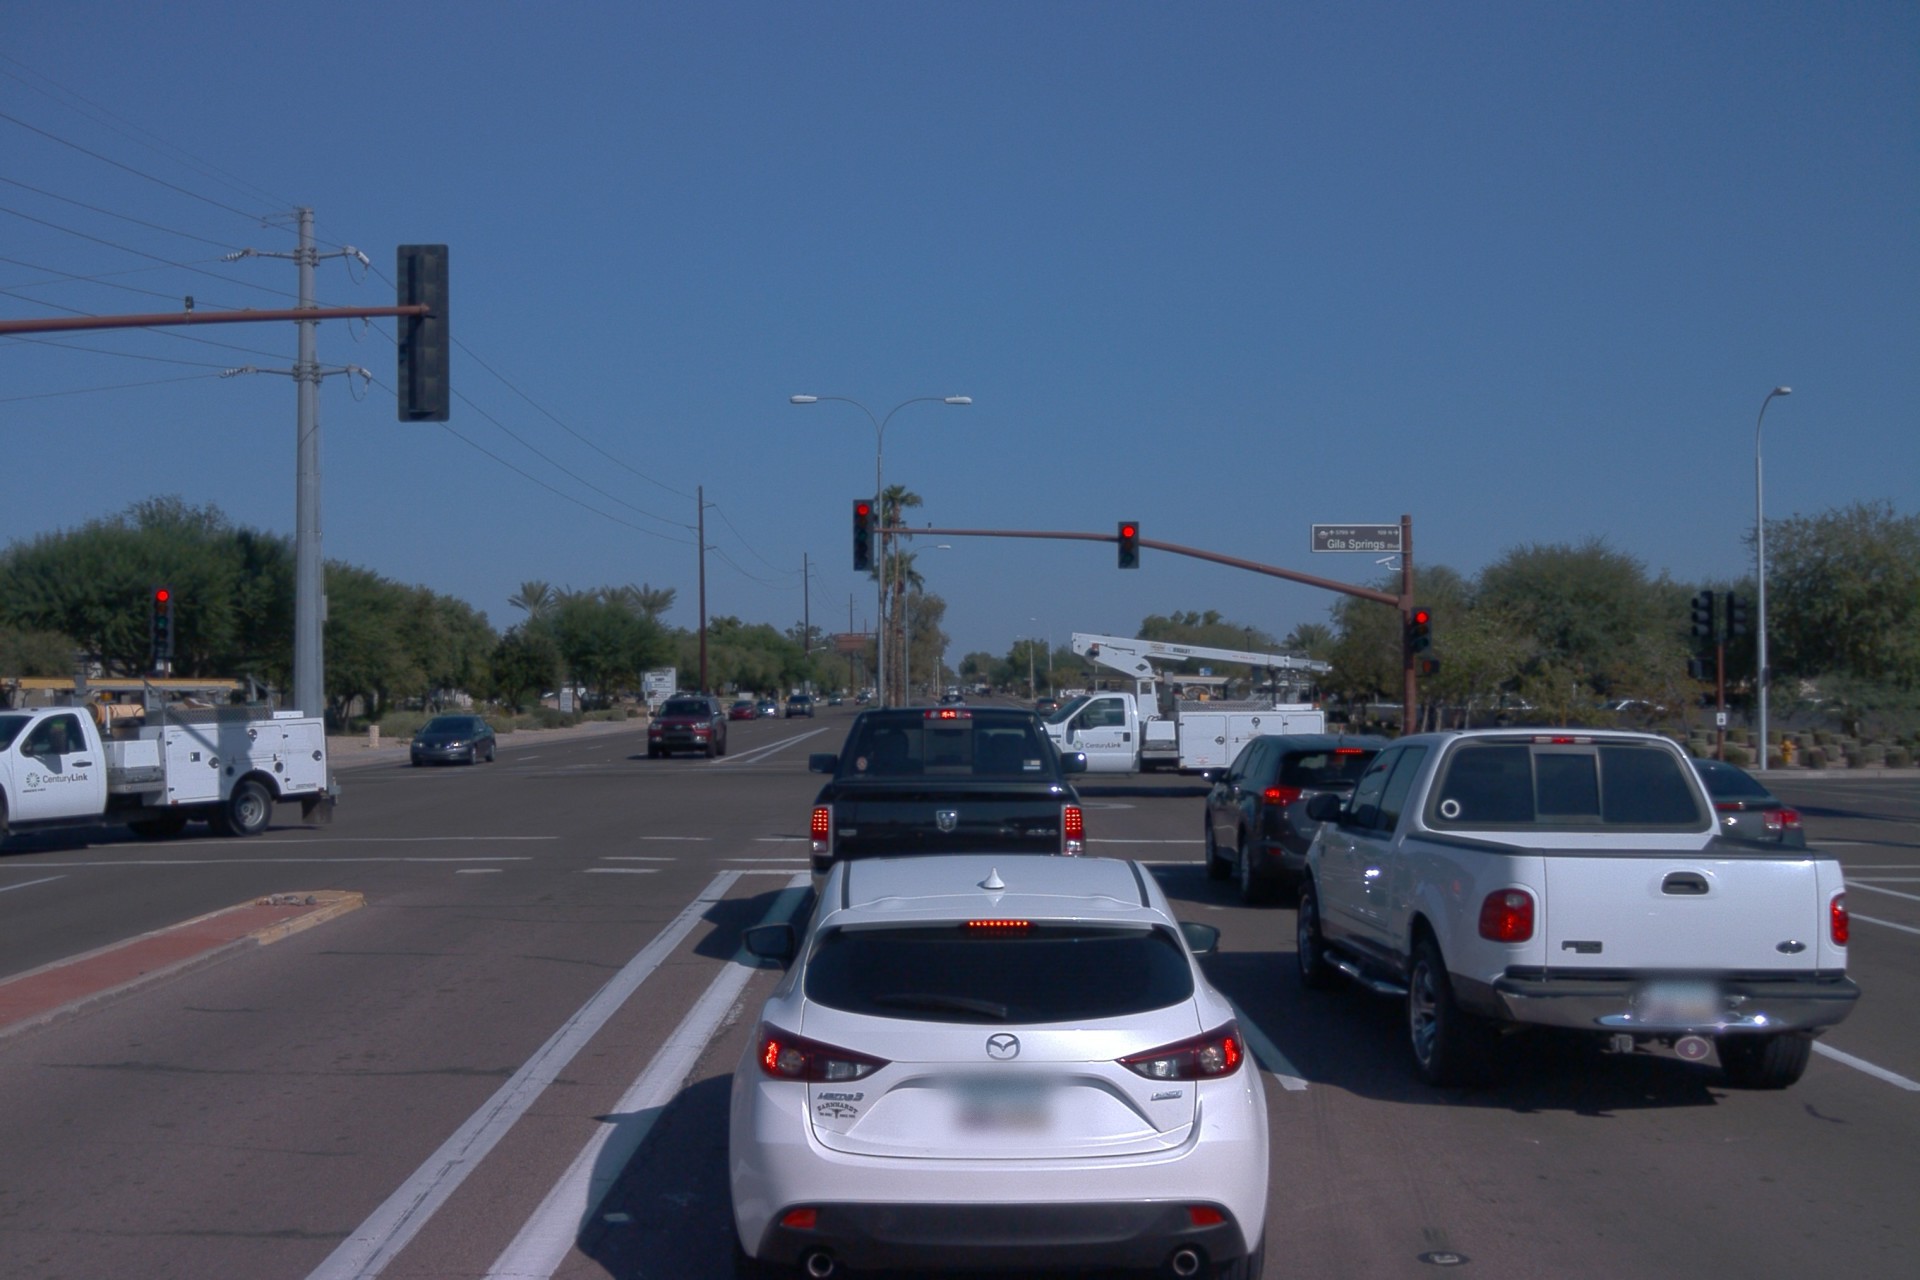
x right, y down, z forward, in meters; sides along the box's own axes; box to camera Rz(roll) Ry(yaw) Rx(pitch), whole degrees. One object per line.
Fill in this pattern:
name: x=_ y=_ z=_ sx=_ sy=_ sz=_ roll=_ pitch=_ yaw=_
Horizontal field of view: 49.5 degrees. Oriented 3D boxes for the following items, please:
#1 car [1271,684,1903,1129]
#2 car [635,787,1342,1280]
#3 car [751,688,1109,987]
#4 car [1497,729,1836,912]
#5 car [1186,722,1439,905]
car: x=3.336 y=1.317 z=12.477 sx=2.073 sy=2.070 sz=5.518 roll=0 pitch=-1 yaw=-1
car: x=0.088 y=1.503 z=8.512 sx=2.099 sy=1.600 sz=4.628 roll=0 pitch=-1 yaw=0
car: x=-0.133 y=1.443 z=17.029 sx=2.500 sy=2.080 sz=5.001 roll=0 pitch=-1 yaw=2
car: x=6.819 y=1.689 z=20.626 sx=1.828 sy=1.540 sz=4.447 roll=0 pitch=-1 yaw=0
car: x=3.479 y=1.685 z=21.297 sx=1.789 sy=1.630 sz=4.213 roll=0 pitch=-1 yaw=-1
